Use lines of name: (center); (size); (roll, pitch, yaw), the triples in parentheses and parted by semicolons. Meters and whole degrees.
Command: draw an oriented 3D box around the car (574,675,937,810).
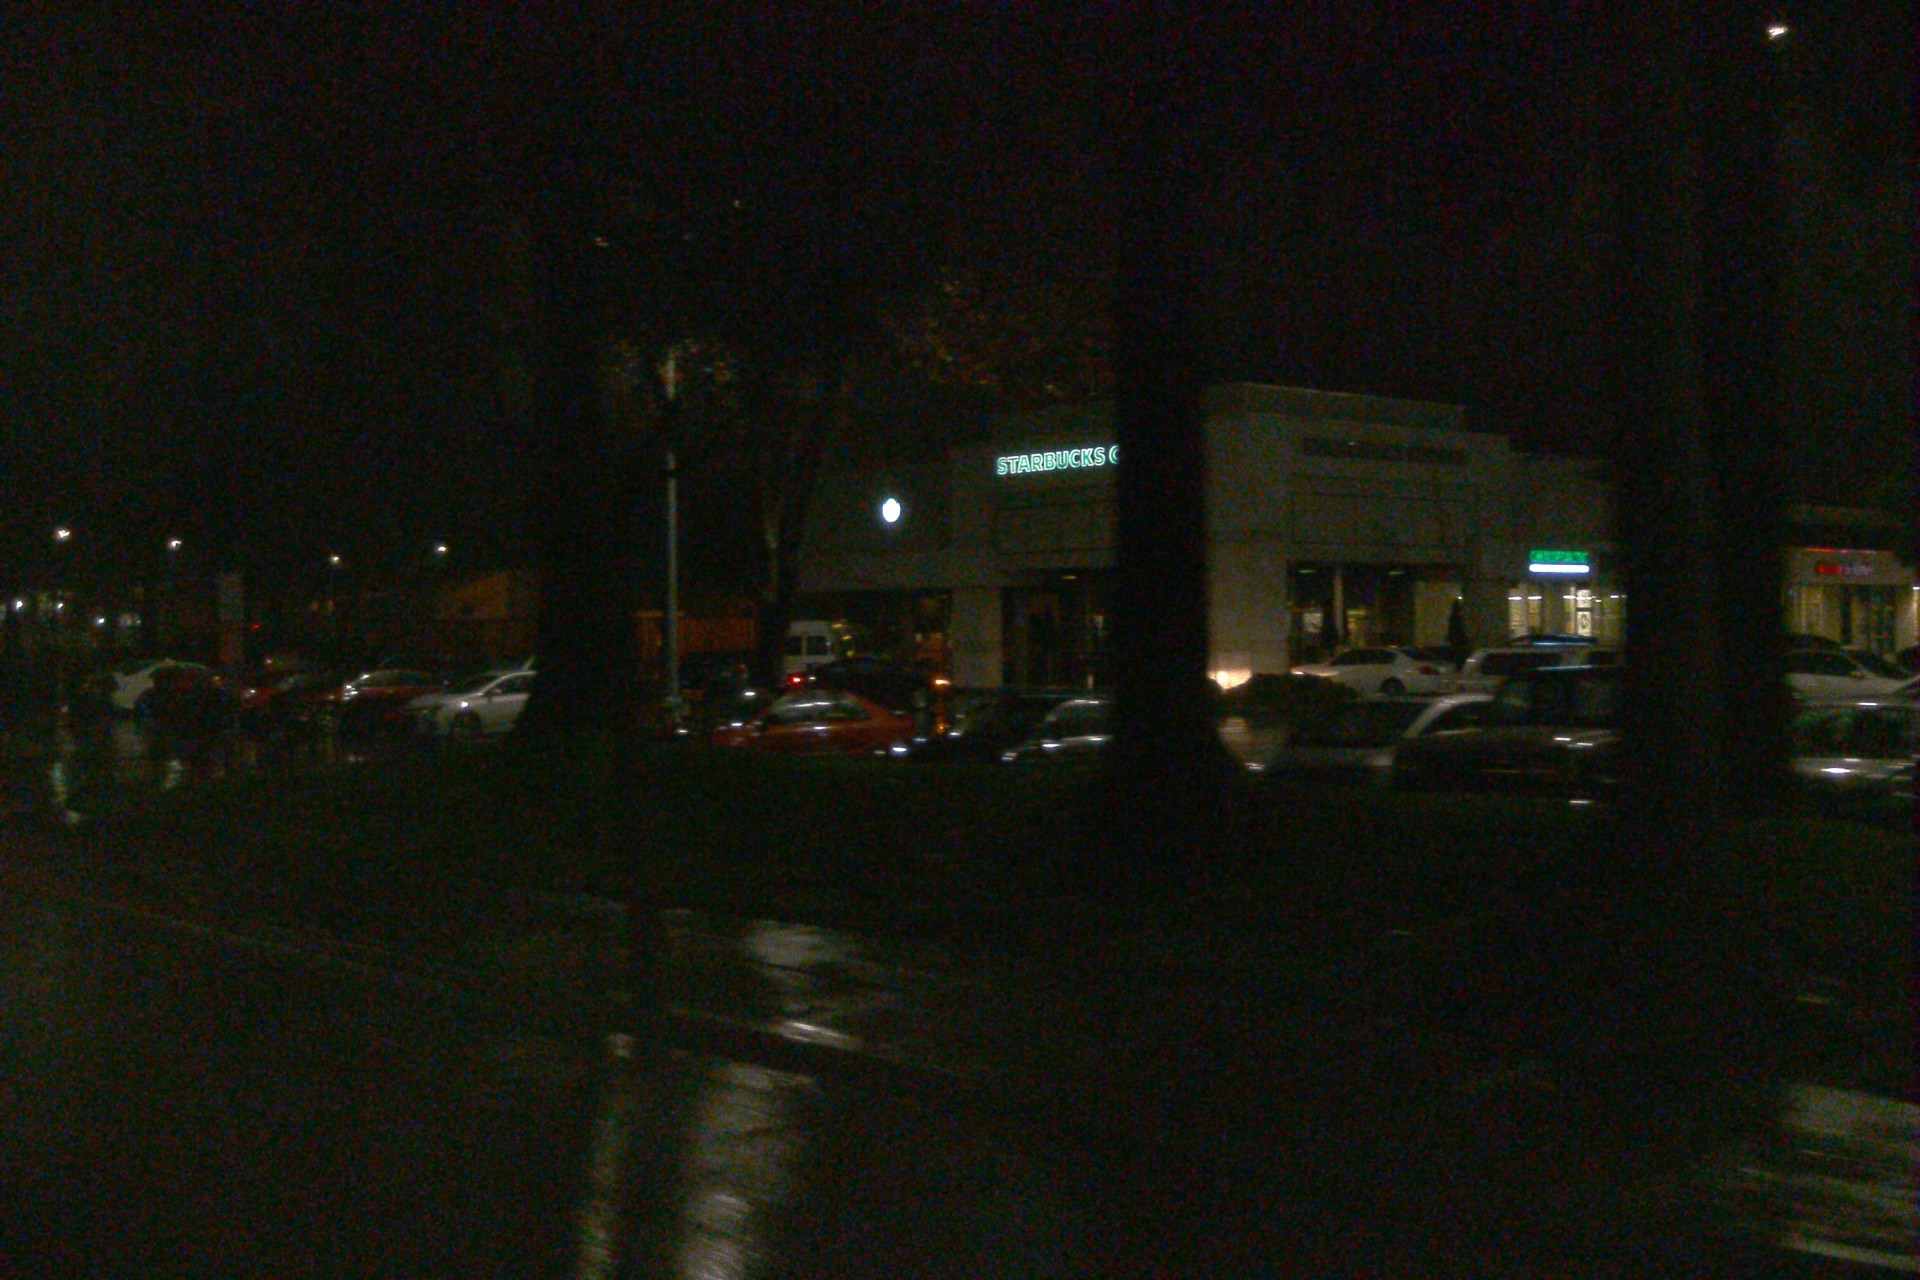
car: (-2.680, 1.339, 28.088); (4.551, 1.630, 2.037); (2, -1, -44)

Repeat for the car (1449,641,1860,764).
car: (11.176, 0.966, 33.975); (2.403, 1.790, 5.878); (2, -1, -43)

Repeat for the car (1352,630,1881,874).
car: (6.394, 0.968, 19.817); (2.451, 1.960, 5.814); (1, -1, 43)

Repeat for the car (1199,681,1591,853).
car: (4.485, 1.220, 21.176); (2.010, 1.530, 4.062); (1, -1, 44)
